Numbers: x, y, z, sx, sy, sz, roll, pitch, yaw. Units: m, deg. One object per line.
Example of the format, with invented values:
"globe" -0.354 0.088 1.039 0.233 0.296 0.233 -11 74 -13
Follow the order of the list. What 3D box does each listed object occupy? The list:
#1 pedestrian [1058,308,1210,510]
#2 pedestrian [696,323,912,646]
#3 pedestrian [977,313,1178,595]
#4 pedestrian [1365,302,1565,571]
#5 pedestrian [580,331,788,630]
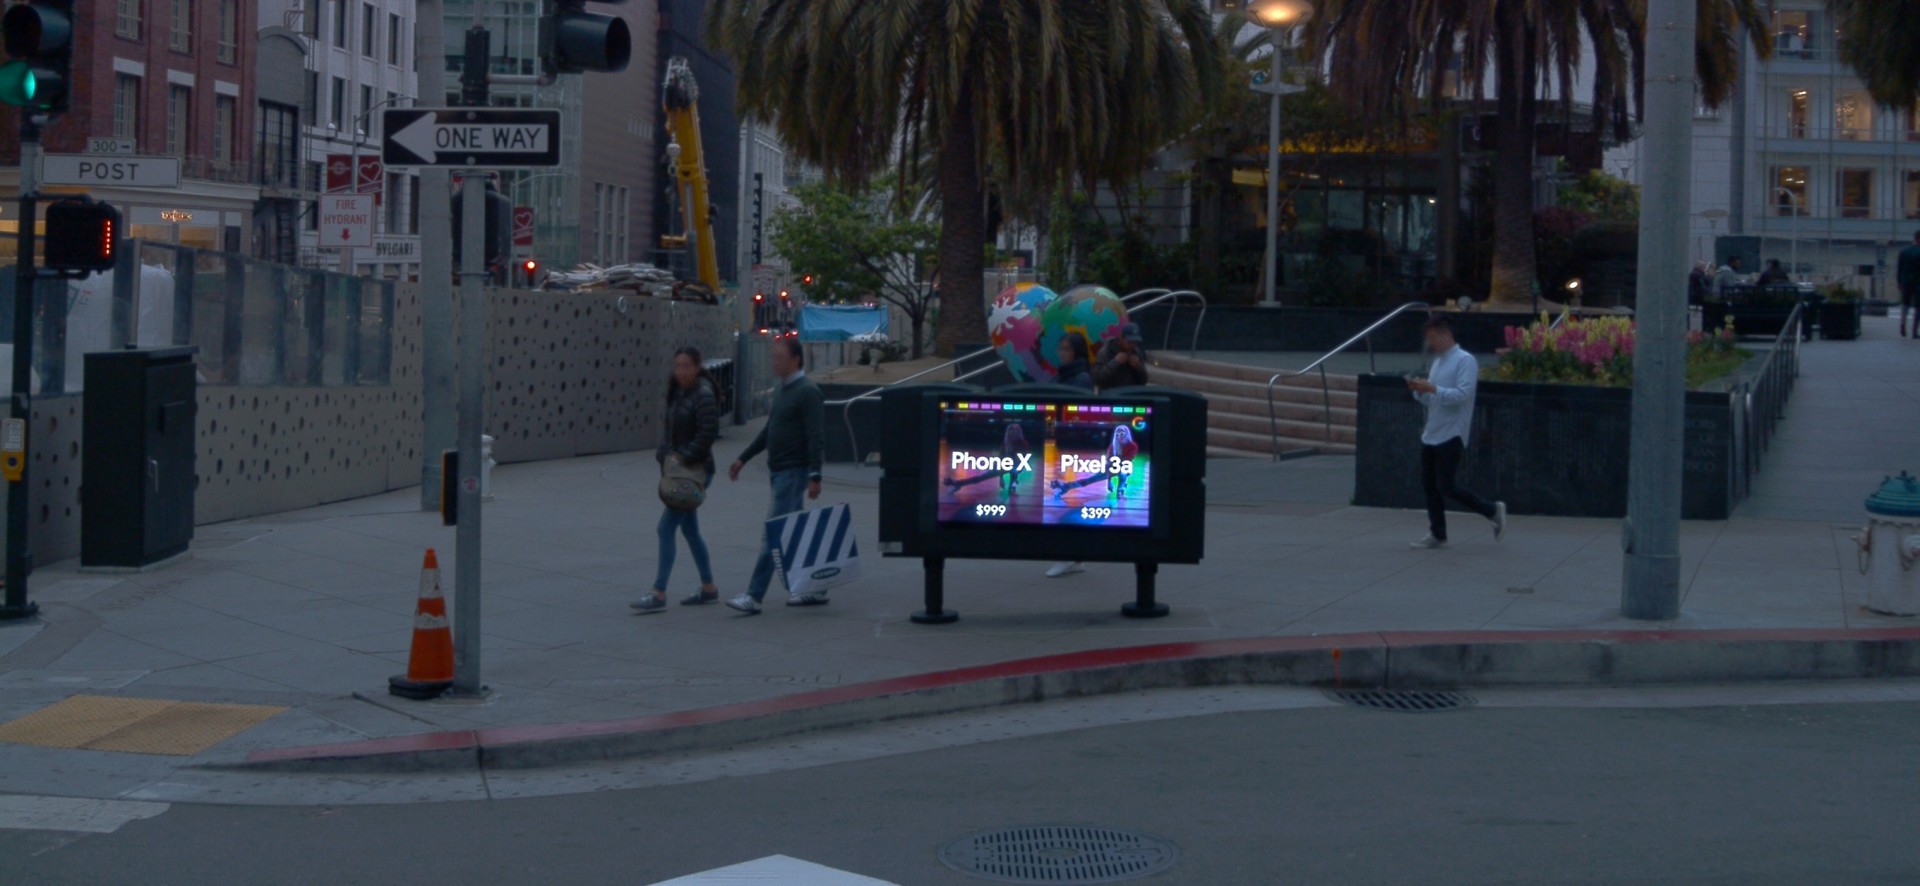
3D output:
"pedestrian" 1.602 -0.345 19.067 1.001 1.759 1.001 -1 2 -31
"pedestrian" -0.968 0.203 12.682 1.001 1.829 1.002 -1 2 -28
"pedestrian" 0.771 0.027 13.802 1.000 1.749 1.002 -1 2 -23
"pedestrian" 3.495 -0.085 14.367 1.000 1.759 1.002 -1 2 -14
"pedestrian" -1.740 0.185 12.934 1.001 1.719 1.002 -1 2 -28
